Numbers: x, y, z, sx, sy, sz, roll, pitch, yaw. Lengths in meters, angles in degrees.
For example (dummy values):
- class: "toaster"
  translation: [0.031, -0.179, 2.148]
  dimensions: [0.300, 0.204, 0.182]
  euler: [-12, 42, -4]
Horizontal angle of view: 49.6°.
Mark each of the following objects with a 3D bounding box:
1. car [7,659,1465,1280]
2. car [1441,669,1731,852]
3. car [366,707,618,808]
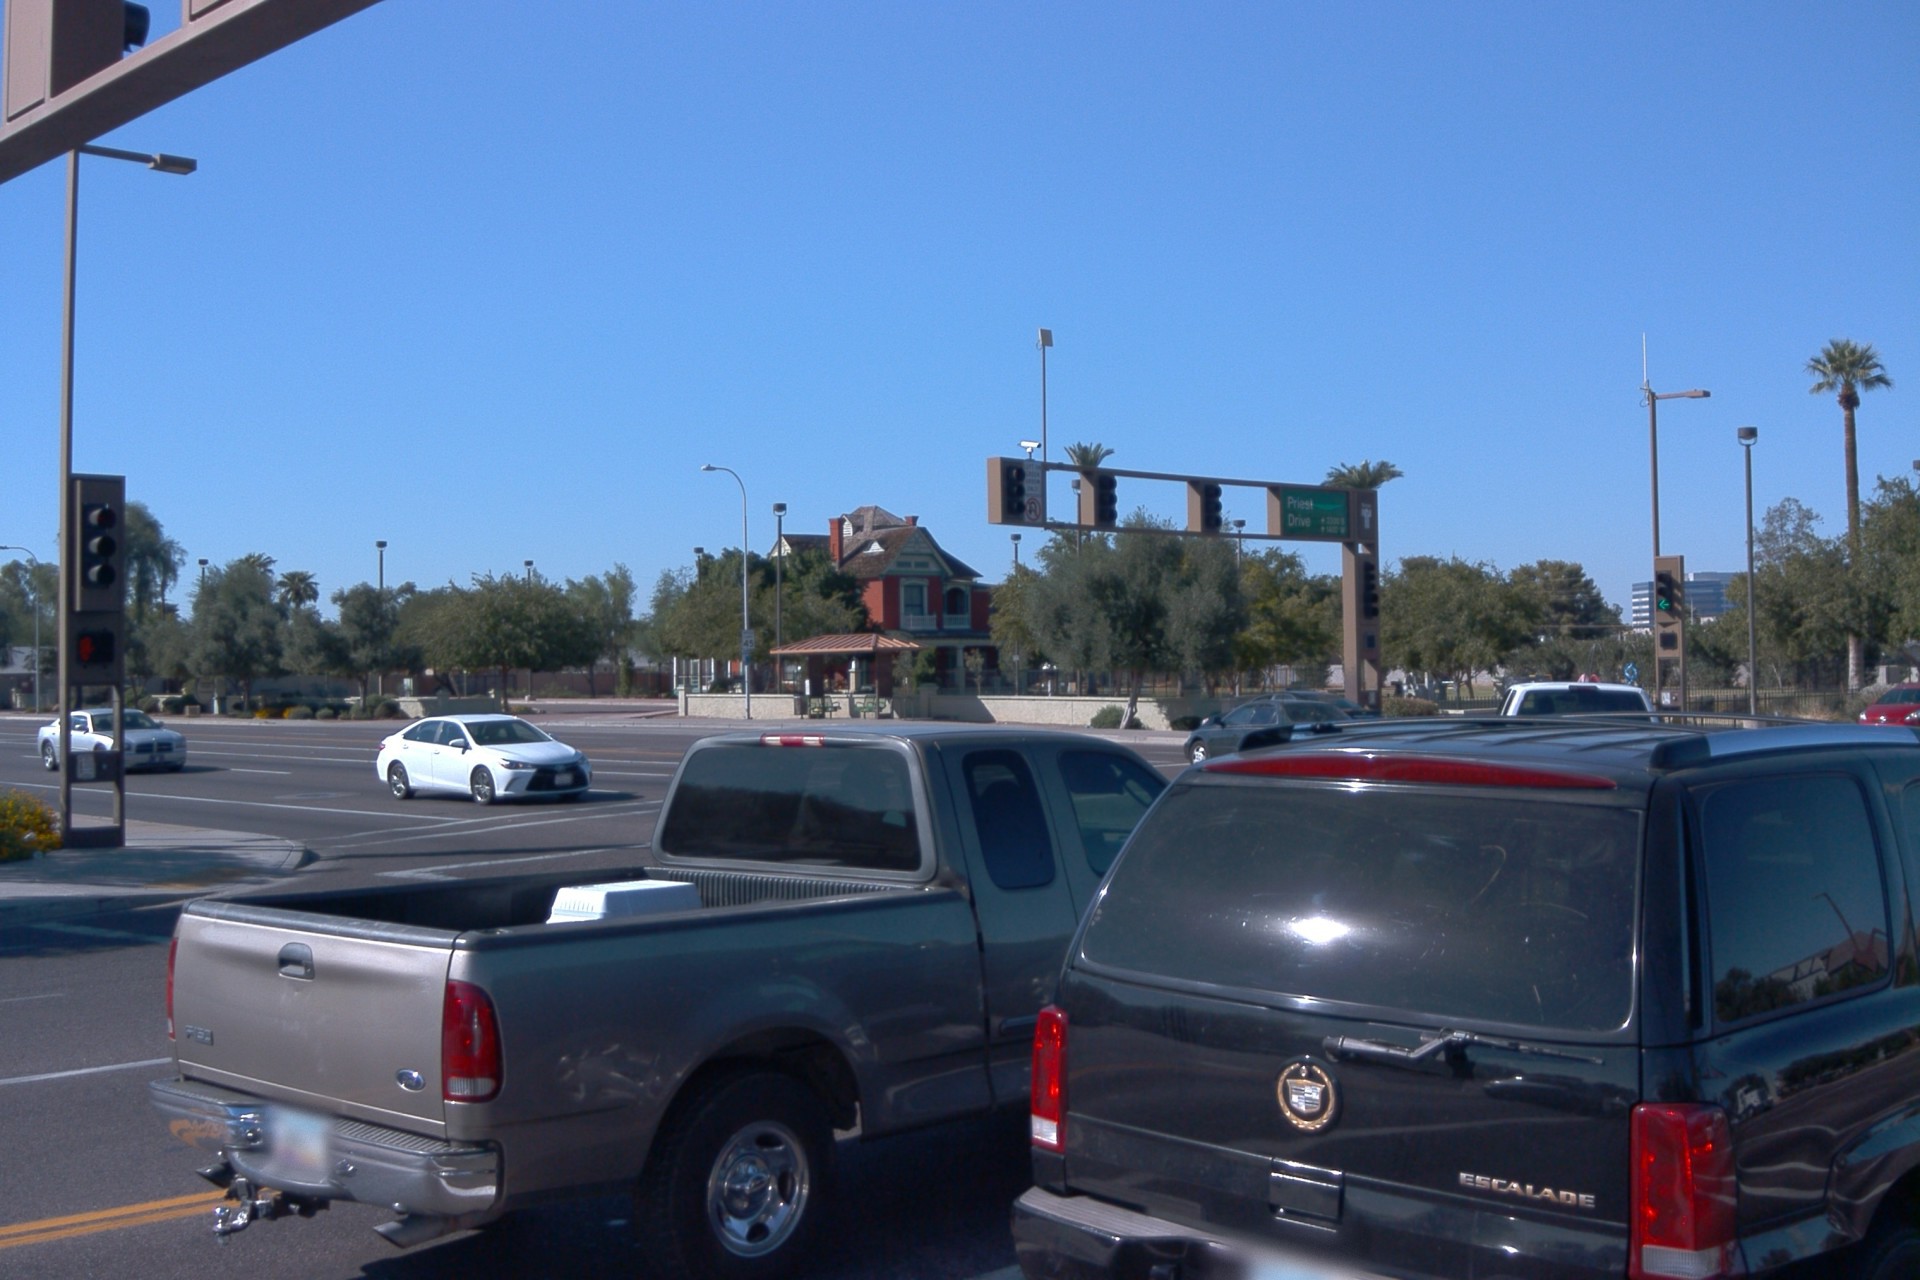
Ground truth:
- class: "car"
  translation: [-0.425, 1.135, 8.451]
  dimensions: [2.261, 2.080, 5.847]
  euler: [0, 0, 43]
- class: "car"
  translation: [7.491, 1.342, 25.611]
  dimensions: [2.488, 1.900, 6.206]
  euler: [0, 0, 8]
- class: "car"
  translation: [-8.242, 1.999, 36.373]
  dimensions: [2.126, 1.500, 4.748]
  euler: [0, 0, -44]
